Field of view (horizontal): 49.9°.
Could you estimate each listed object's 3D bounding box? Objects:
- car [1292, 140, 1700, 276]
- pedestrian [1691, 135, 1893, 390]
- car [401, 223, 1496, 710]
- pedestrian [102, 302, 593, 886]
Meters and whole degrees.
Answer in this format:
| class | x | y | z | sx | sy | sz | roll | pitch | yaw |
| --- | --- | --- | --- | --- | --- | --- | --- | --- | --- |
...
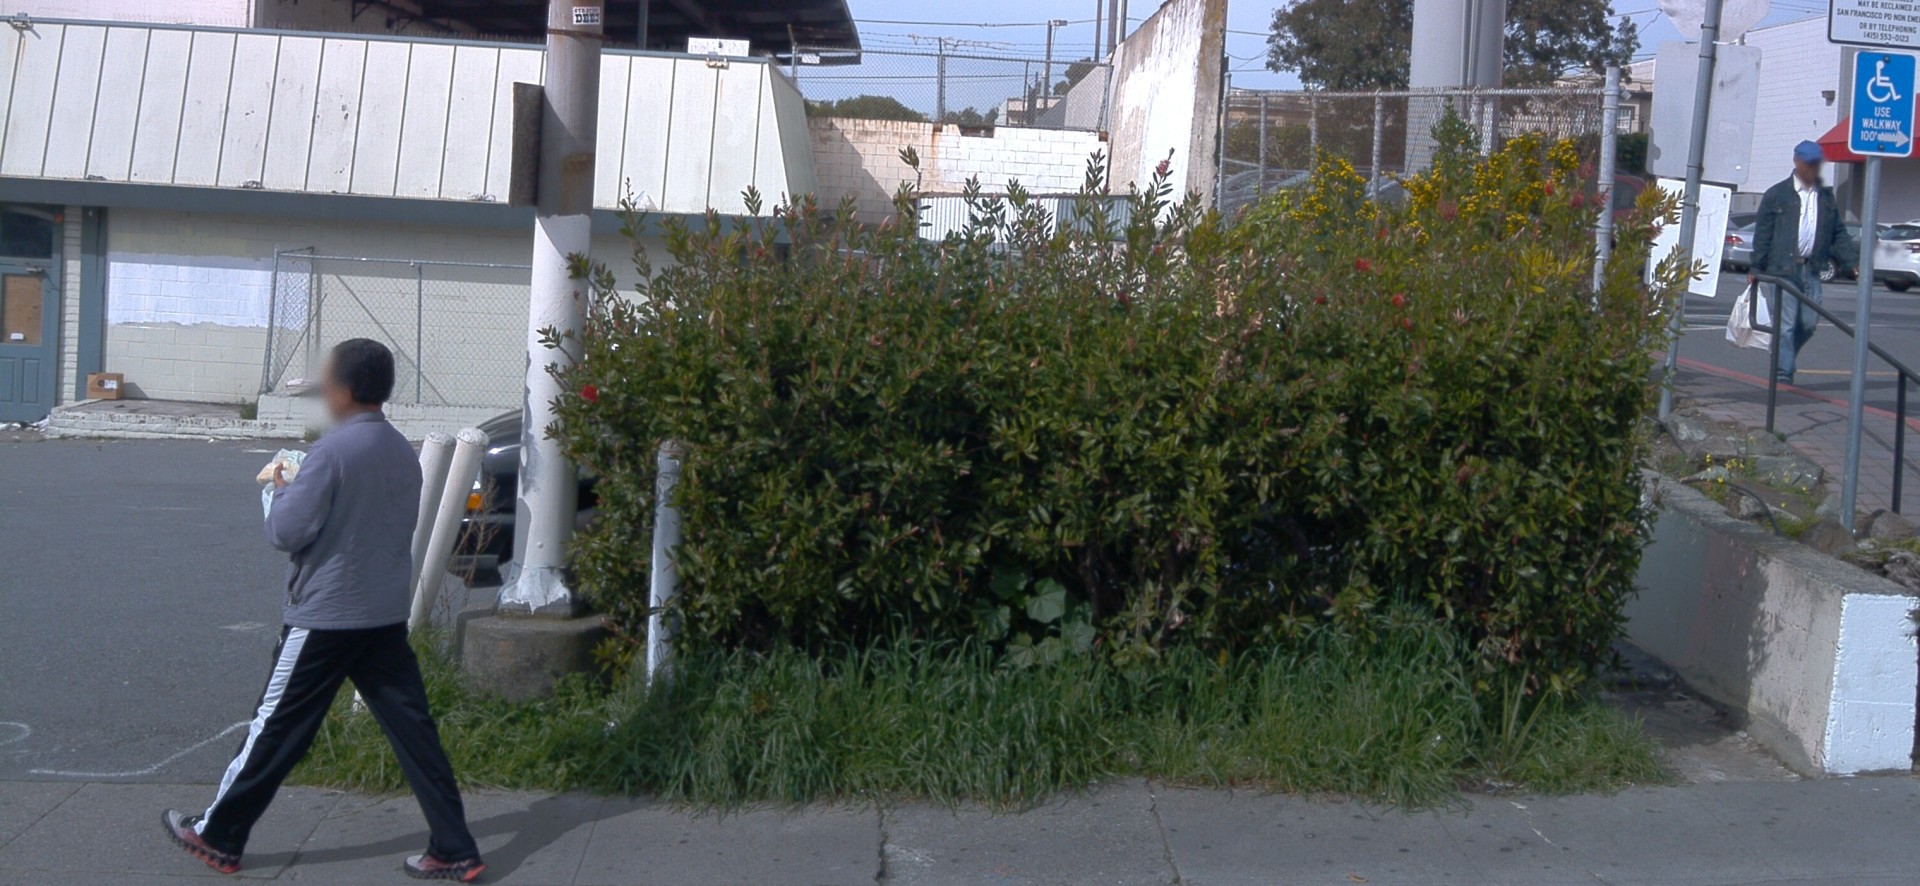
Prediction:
| class | x | y | z | sx | sy | sz | roll | pitch | yaw |
| --- | --- | --- | --- | --- | --- | --- | --- | --- | --- |
| car | 6.980 | -3.079 | 27.245 | 4.792 | 1.717 | 2.140 | 0 | 3 | -3 |
| pedestrian | 5.634 | -1.233 | 14.037 | 1.009 | 1.670 | 0.952 | 0 | 1 | 2 |
| car | -0.065 | -0.007 | 10.034 | 4.799 | 2.108 | 2.006 | 0 | 3 | -2 |
| pedestrian | -1.842 | 0.463 | 6.271 | 1.076 | 1.743 | 0.945 | 1 | 2 | 29 |
